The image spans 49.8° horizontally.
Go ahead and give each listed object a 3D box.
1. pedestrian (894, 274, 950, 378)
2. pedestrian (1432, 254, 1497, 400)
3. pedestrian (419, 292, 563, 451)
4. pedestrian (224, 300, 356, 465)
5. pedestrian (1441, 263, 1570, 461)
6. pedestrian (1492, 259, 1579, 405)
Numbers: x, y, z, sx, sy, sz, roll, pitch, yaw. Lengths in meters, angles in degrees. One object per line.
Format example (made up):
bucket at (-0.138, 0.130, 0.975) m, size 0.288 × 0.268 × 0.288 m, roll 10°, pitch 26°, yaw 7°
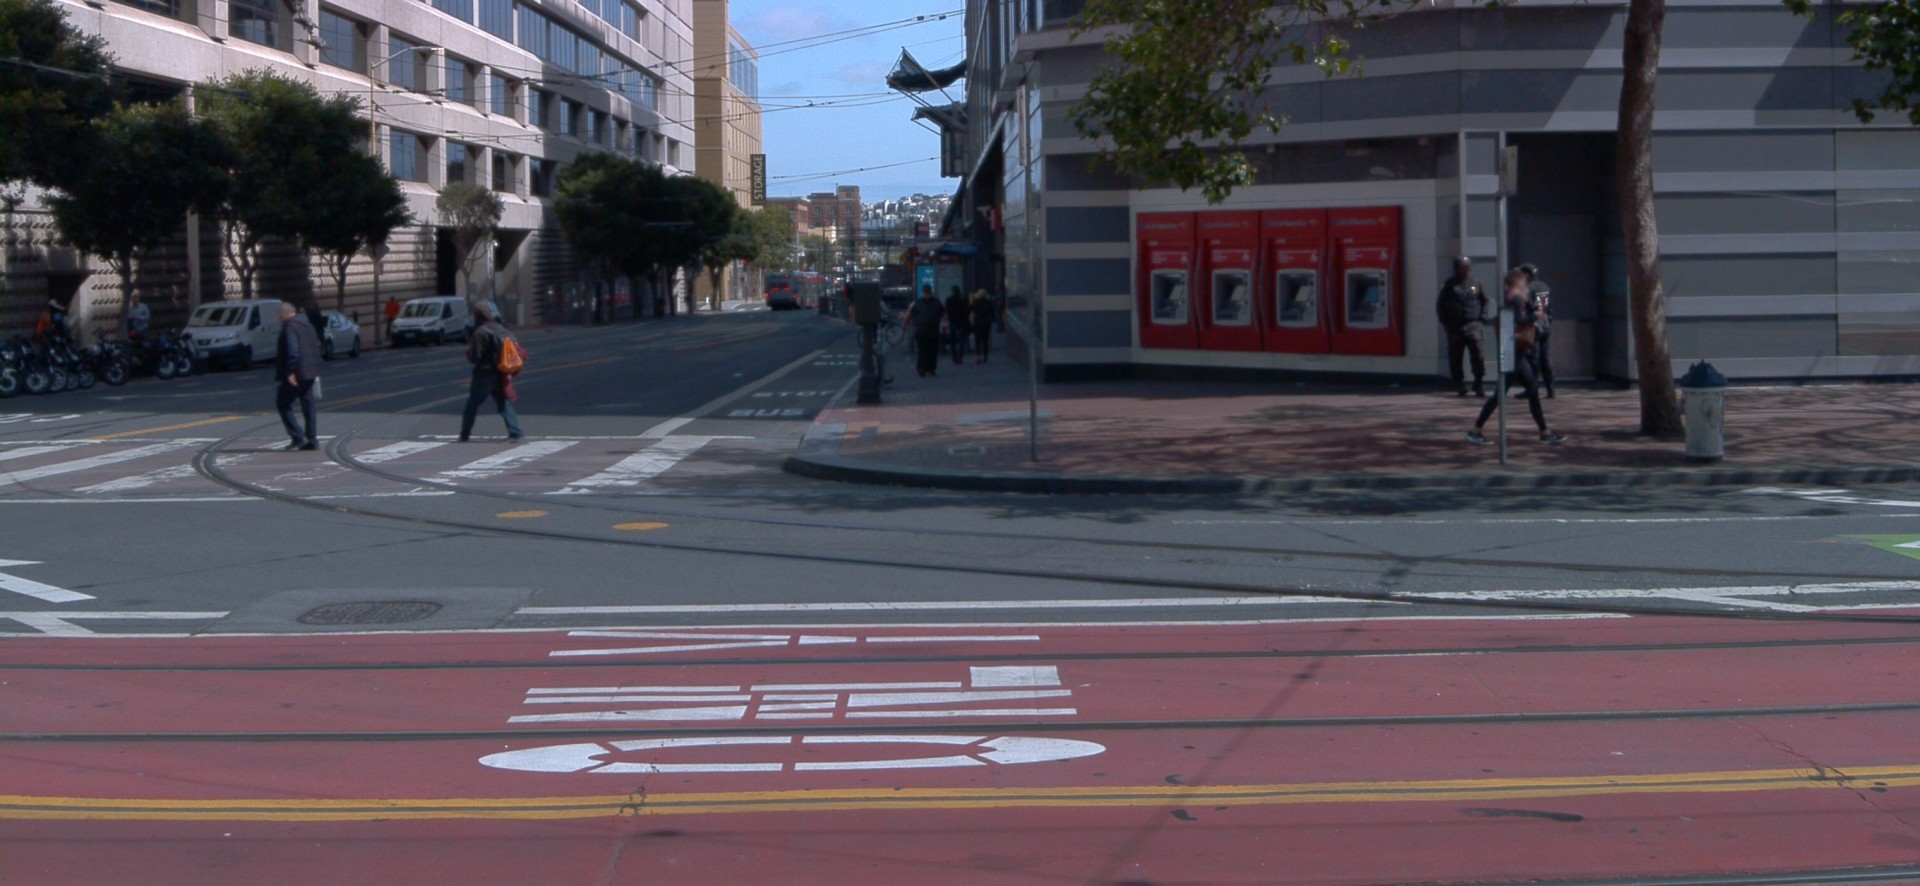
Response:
pedestrian at (-0.683, -2.091, 36.664) m, size 0.942 × 1.766 × 1.012 m, roll -1°, pitch 3°, yaw -3°
pedestrian at (6.240, -1.449, 25.582) m, size 0.723 × 1.766 × 0.684 m, roll 0°, pitch 2°, yaw 9°
pedestrian at (-5.583, -0.879, 24.640) m, size 1.158 × 1.766 × 1.187 m, roll 1°, pitch 3°, yaw 32°
pedestrian at (-7.491, -0.697, 23.140) m, size 1.095 × 1.766 × 0.864 m, roll 0°, pitch 2°, yaw 10°
pedestrian at (5.331, -0.815, 20.260) m, size 1.137 × 1.866 × 0.847 m, roll 0°, pitch 2°, yaw 9°
pedestrian at (6.957, -1.356, 24.974) m, size 0.803 × 1.697 × 0.696 m, roll -3°, pitch 3°, yaw -44°
